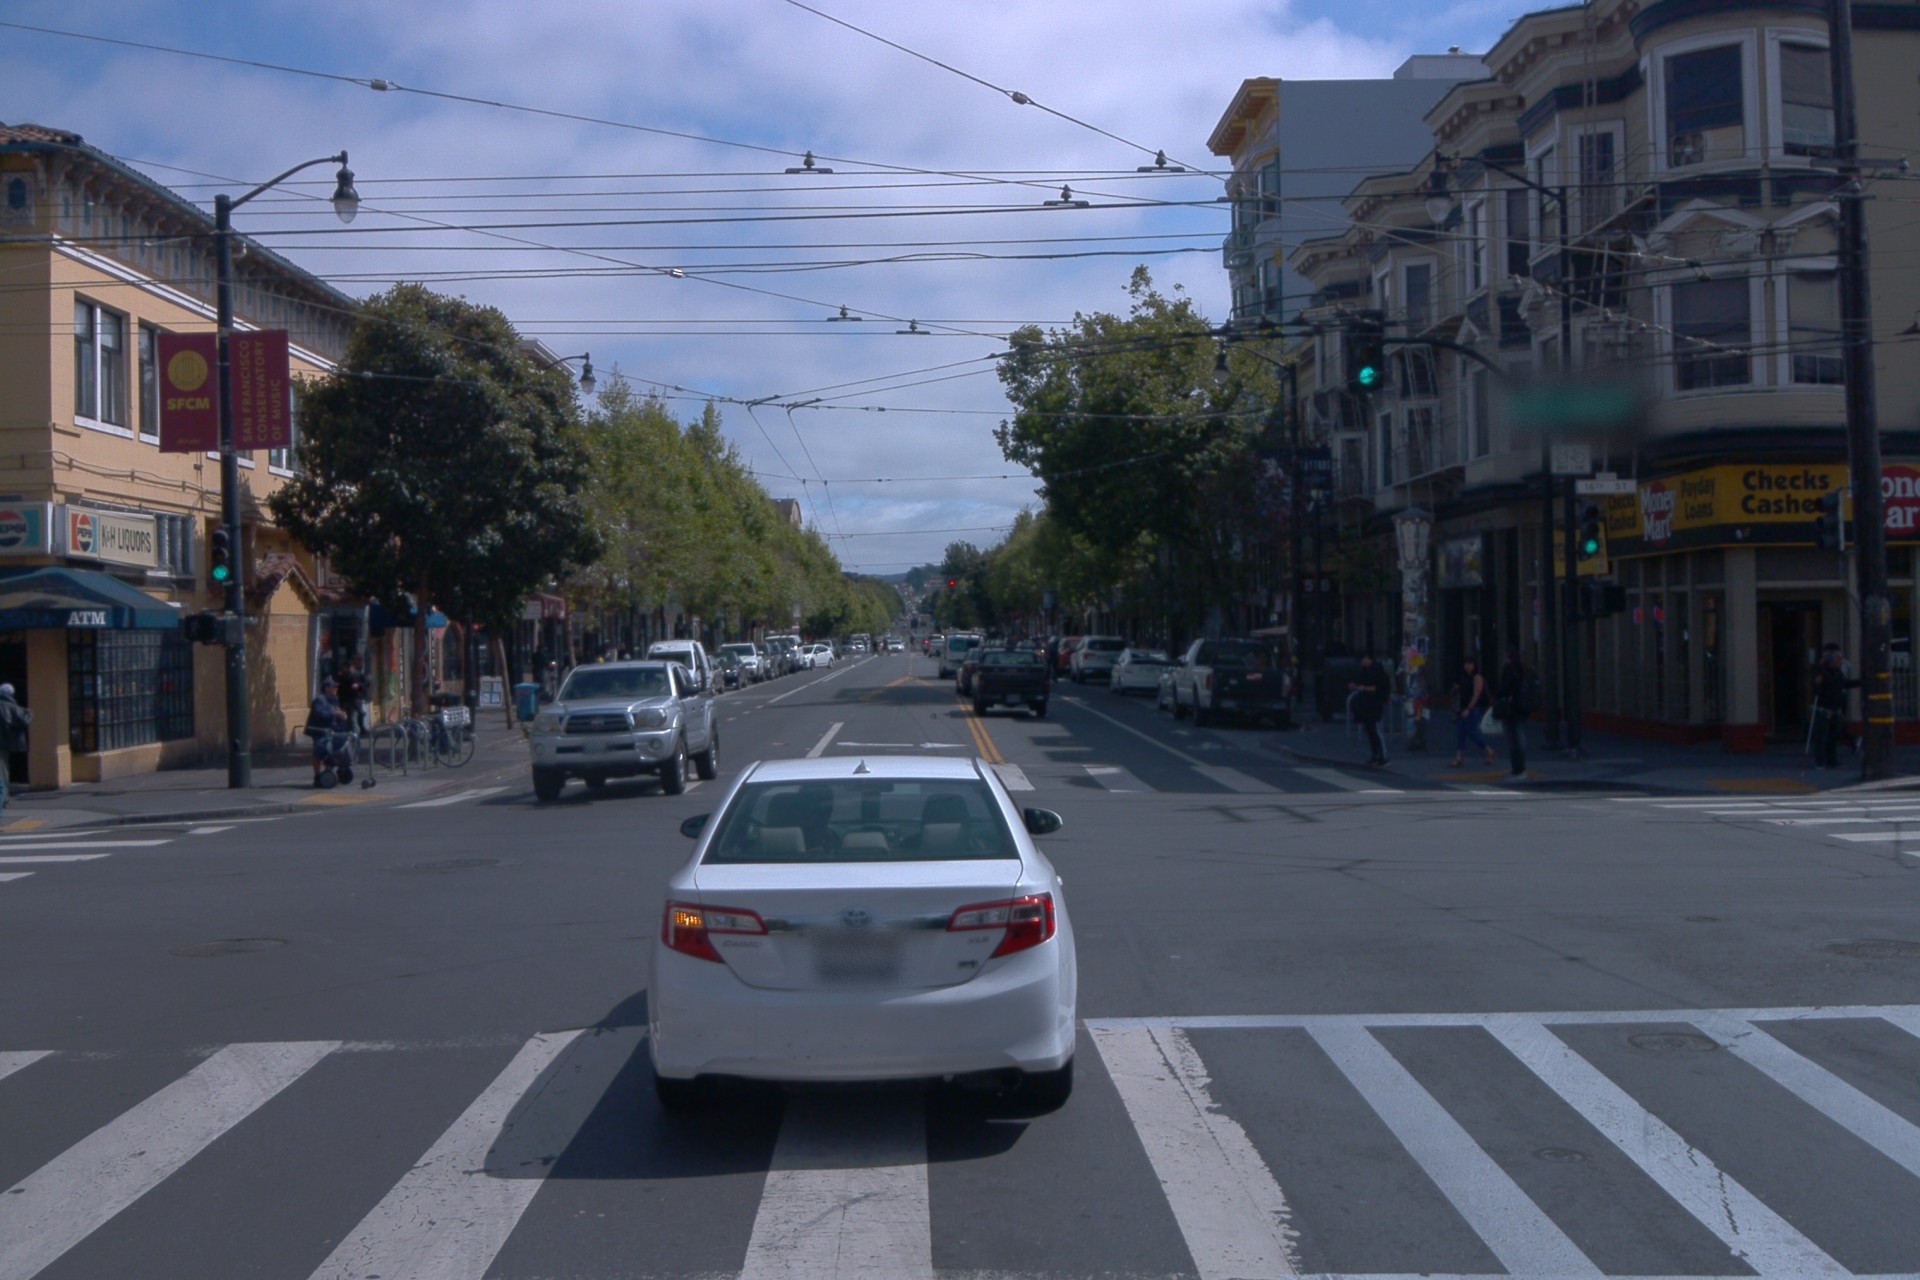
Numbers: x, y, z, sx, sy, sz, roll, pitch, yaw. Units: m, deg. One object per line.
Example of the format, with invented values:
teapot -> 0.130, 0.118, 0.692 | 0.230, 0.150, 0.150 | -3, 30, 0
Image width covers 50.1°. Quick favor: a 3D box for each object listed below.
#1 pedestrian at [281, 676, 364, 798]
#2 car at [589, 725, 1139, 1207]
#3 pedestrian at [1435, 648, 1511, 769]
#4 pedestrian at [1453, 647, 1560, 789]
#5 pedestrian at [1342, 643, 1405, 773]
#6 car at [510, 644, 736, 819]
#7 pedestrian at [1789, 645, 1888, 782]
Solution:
pedestrian -> -9.711, 1.455, 31.309 | 0.826, 1.790, 0.866 | 0, 1, 32
car -> -0.418, 1.332, 10.082 | 2.079, 1.570, 4.572 | 0, 1, -1
pedestrian -> 7.580, 1.003, 30.394 | 0.930, 1.750, 0.697 | 0, 1, -2
pedestrian -> 7.658, 1.071, 28.814 | 0.932, 1.920, 1.116 | -1, 1, -31
pedestrian -> 6.242, 1.011, 31.064 | 0.766, 1.920, 0.749 | 0, 1, -4
car -> -4.402, 1.124, 27.709 | 2.125, 2.060, 5.209 | 0, 1, 1
pedestrian -> 11.904, 0.970, 27.897 | 1.002, 1.790, 1.326 | 0, 1, 12
